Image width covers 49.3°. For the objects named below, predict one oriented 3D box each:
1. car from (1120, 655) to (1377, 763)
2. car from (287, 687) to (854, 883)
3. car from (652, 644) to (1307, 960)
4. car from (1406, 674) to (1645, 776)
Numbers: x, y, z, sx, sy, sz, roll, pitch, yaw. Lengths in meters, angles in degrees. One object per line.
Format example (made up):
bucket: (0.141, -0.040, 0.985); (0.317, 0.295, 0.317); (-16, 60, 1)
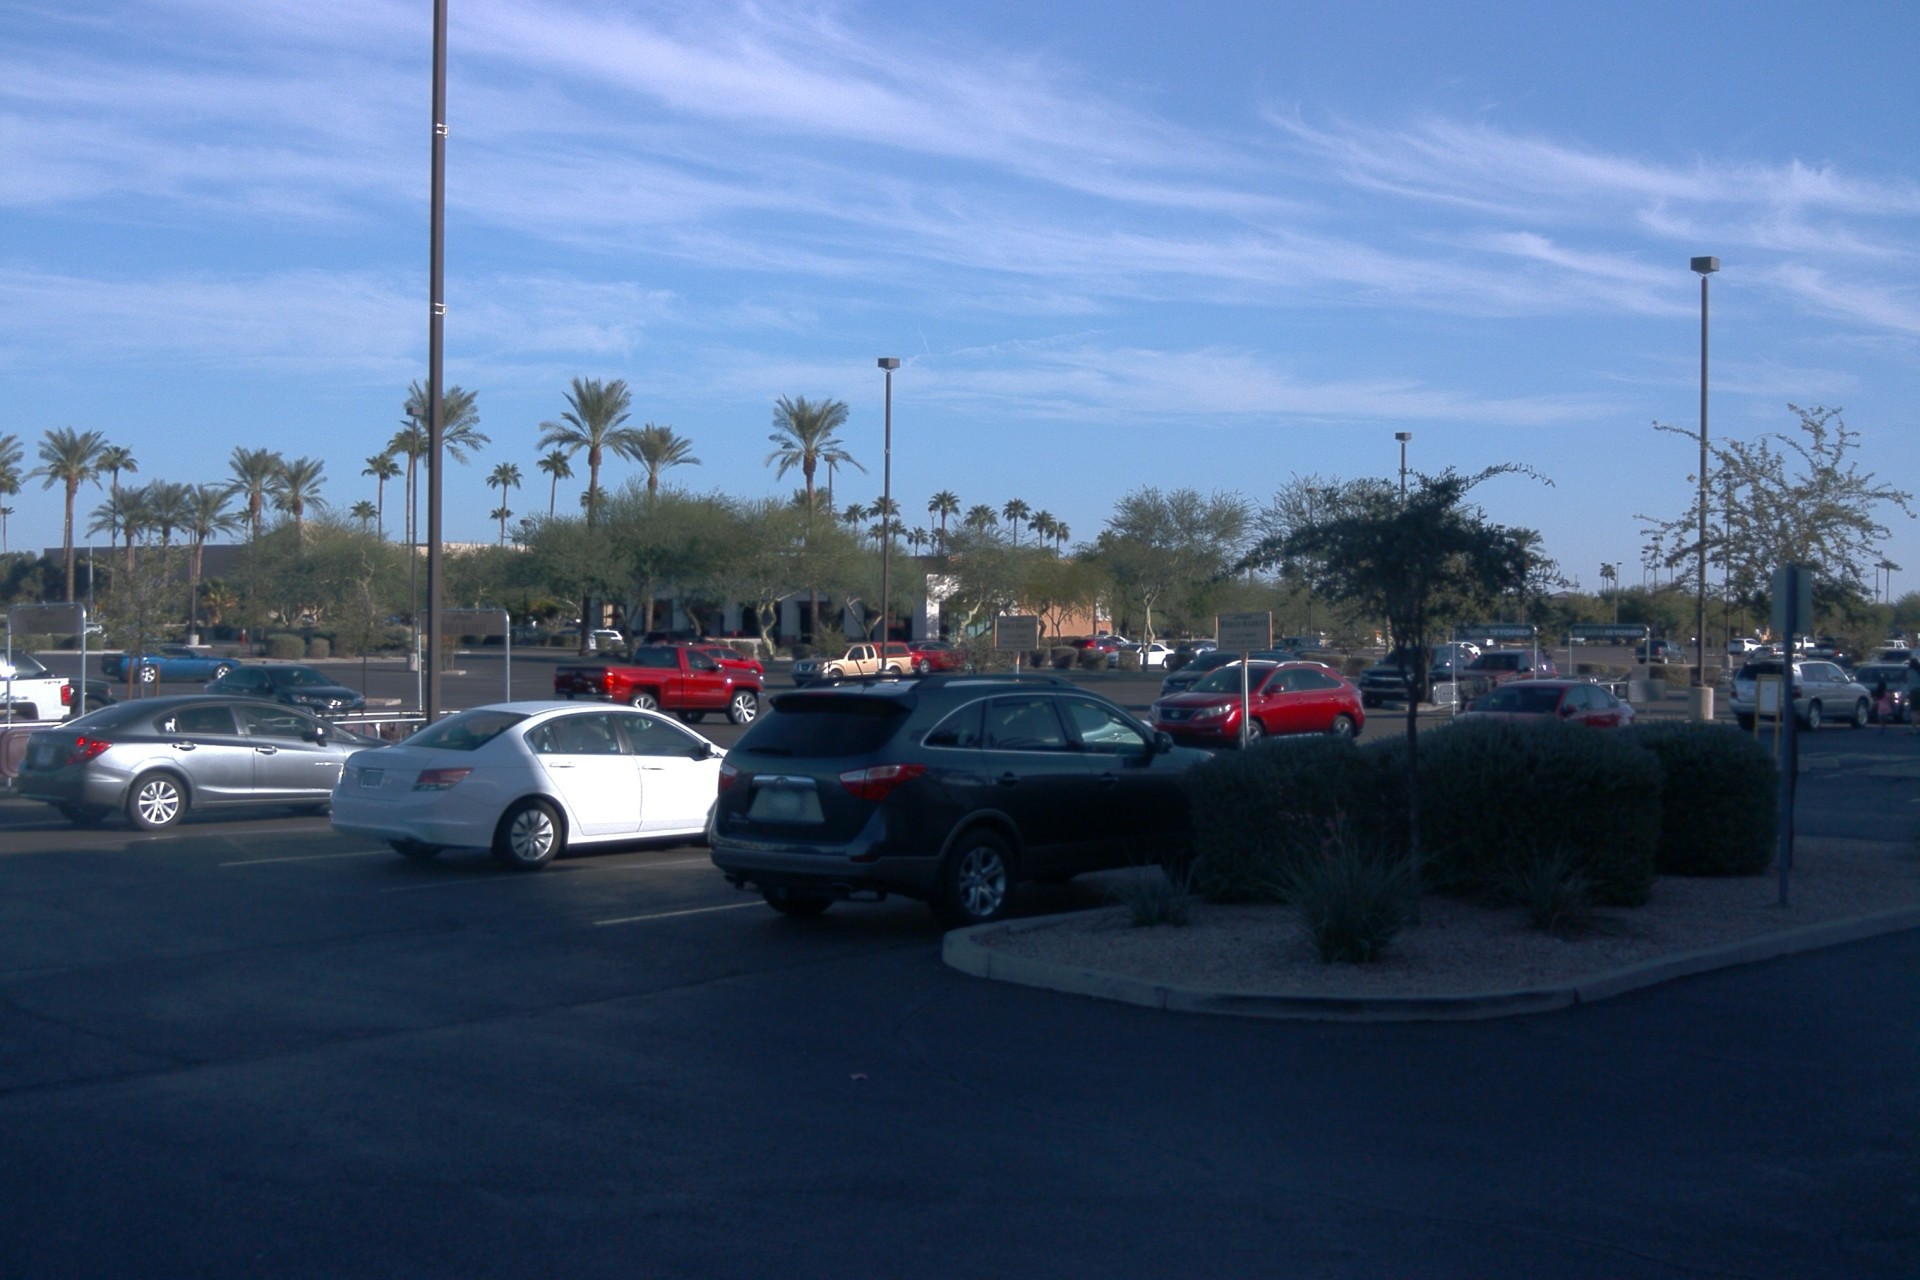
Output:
car: (5.254, 1.178, 37.610); (2.110, 1.760, 4.865); (0, 0, 44)
car: (-3.568, 1.266, 19.995); (2.172, 1.500, 5.046); (0, 0, 42)
car: (0.339, 1.043, 16.021); (2.225, 1.990, 5.114); (0, 0, 41)
car: (9.291, 1.328, 34.130); (2.003, 1.470, 4.510); (0, 0, 41)
